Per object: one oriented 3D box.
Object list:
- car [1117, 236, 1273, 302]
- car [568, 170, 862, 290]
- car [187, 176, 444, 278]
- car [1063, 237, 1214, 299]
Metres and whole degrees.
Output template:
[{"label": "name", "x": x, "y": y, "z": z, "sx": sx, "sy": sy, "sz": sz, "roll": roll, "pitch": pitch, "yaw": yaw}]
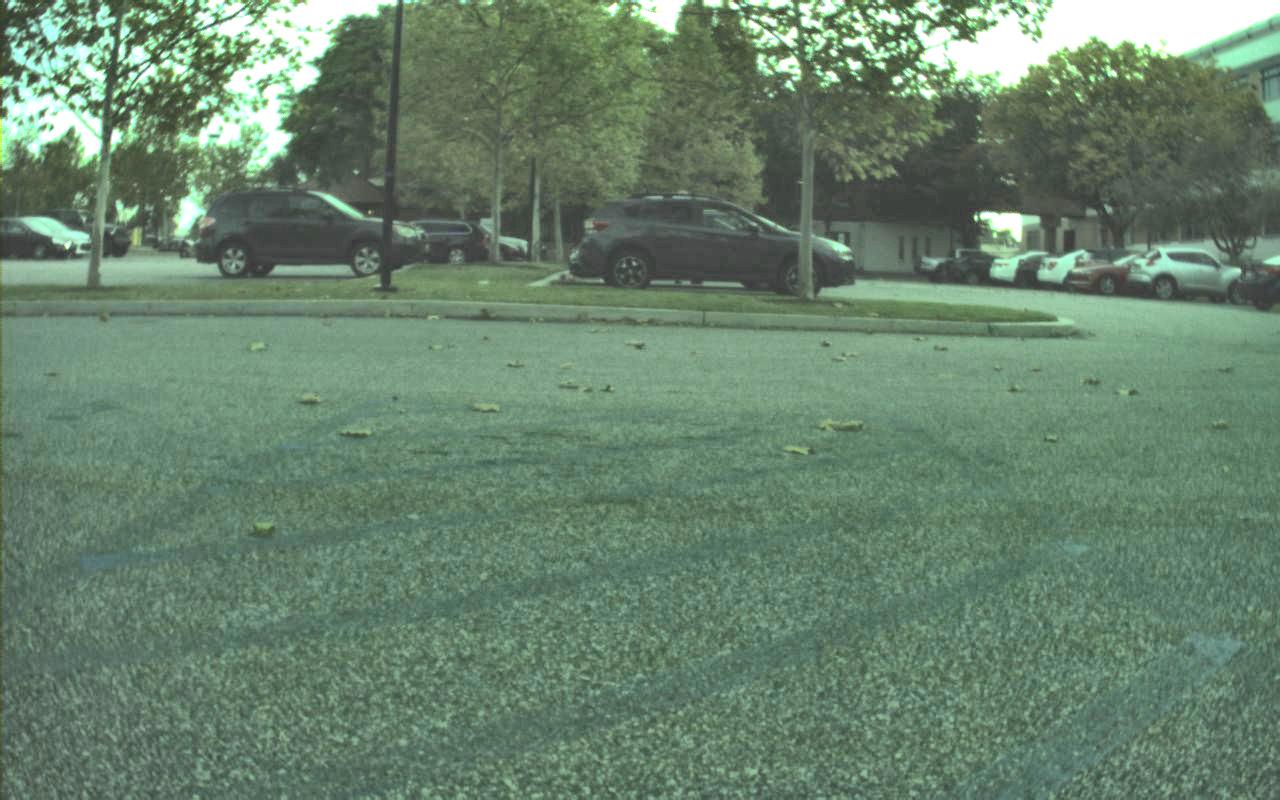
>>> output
[{"label": "car", "x": 16.079, "y": -3.686, "z": 33.575, "sx": 4.458, "sy": 1.622, "sz": 1.949, "roll": 1, "pitch": 1, "yaw": 2}, {"label": "car", "x": 1.145, "y": -2.694, "z": 20.272, "sx": 4.552, "sy": 1.674, "sz": 1.961, "roll": 0, "pitch": 1, "yaw": -3}, {"label": "car", "x": -6.161, "y": -3.224, "z": 23.191, "sx": 4.630, "sy": 1.682, "sz": 1.995, "roll": 0, "pitch": 1, "yaw": 0}, {"label": "car", "x": 15.321, "y": -3.964, "z": 36.284, "sx": 4.509, "sy": 1.629, "sz": 1.974, "roll": 1, "pitch": 1, "yaw": 3}]
